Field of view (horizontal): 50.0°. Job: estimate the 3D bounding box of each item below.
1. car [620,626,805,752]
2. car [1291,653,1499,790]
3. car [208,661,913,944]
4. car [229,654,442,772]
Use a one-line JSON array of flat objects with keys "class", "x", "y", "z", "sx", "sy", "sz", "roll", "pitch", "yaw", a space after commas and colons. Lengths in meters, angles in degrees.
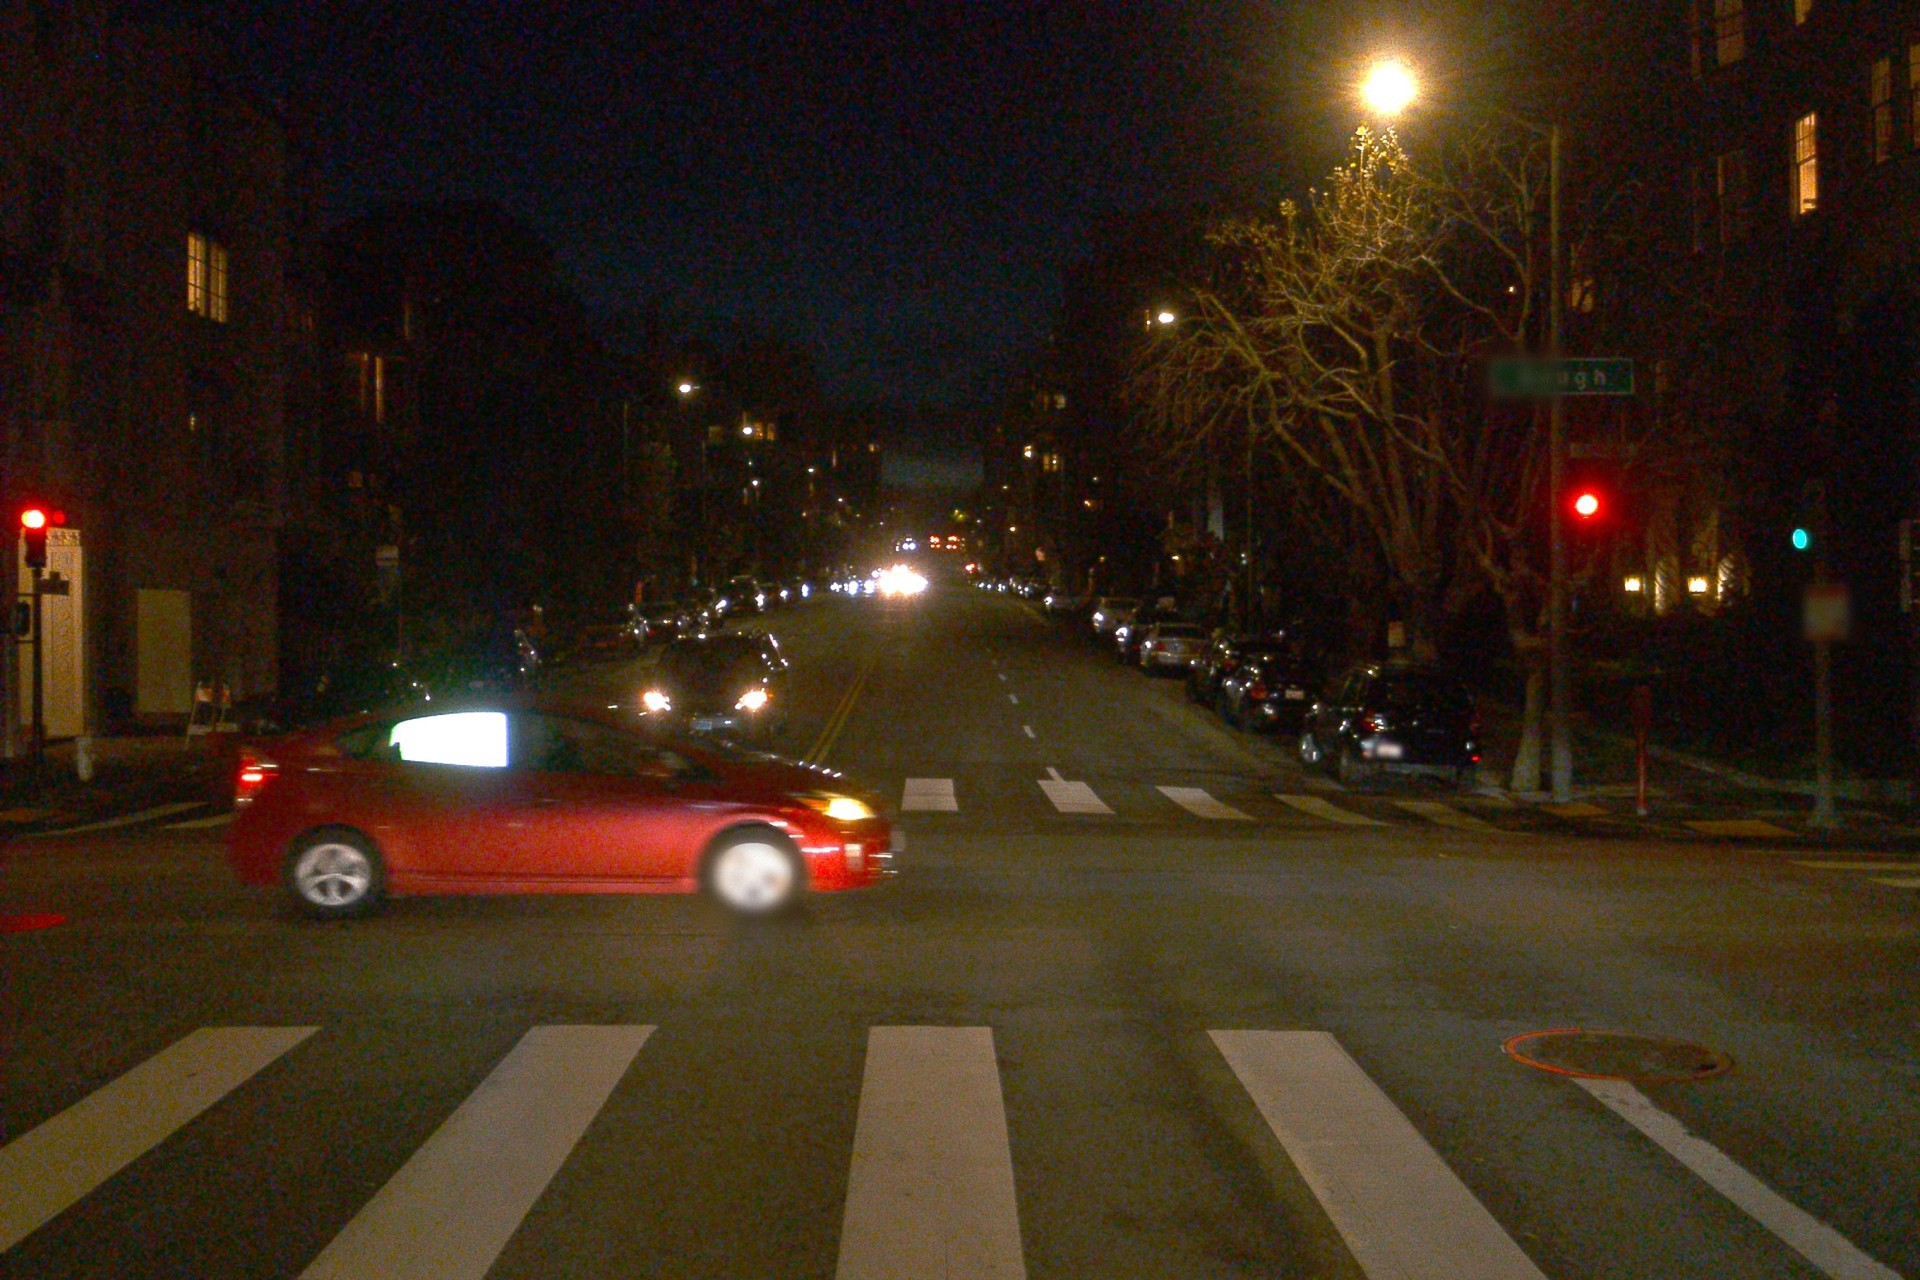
[{"class": "car", "x": -3.803, "y": 0.700, "z": 32.476, "sx": 2.293, "sy": 1.803, "sz": 4.677, "roll": 1, "pitch": 0, "yaw": 0}, {"class": "car", "x": 6.080, "y": 1.096, "z": 29.227, "sx": 1.802, "sy": 1.714, "sz": 4.078, "roll": 1, "pitch": 0, "yaw": -4}, {"class": "car", "x": -2.621, "y": 1.070, "z": 14.375, "sx": 4.543, "sy": 1.730, "sz": 1.915, "roll": 1, "pitch": 0, "yaw": -1}, {"class": "car", "x": -10.053, "y": 1.124, "z": 33.546, "sx": 2.045, "sy": 1.673, "sz": 4.519, "roll": 1, "pitch": 0, "yaw": 0}]
